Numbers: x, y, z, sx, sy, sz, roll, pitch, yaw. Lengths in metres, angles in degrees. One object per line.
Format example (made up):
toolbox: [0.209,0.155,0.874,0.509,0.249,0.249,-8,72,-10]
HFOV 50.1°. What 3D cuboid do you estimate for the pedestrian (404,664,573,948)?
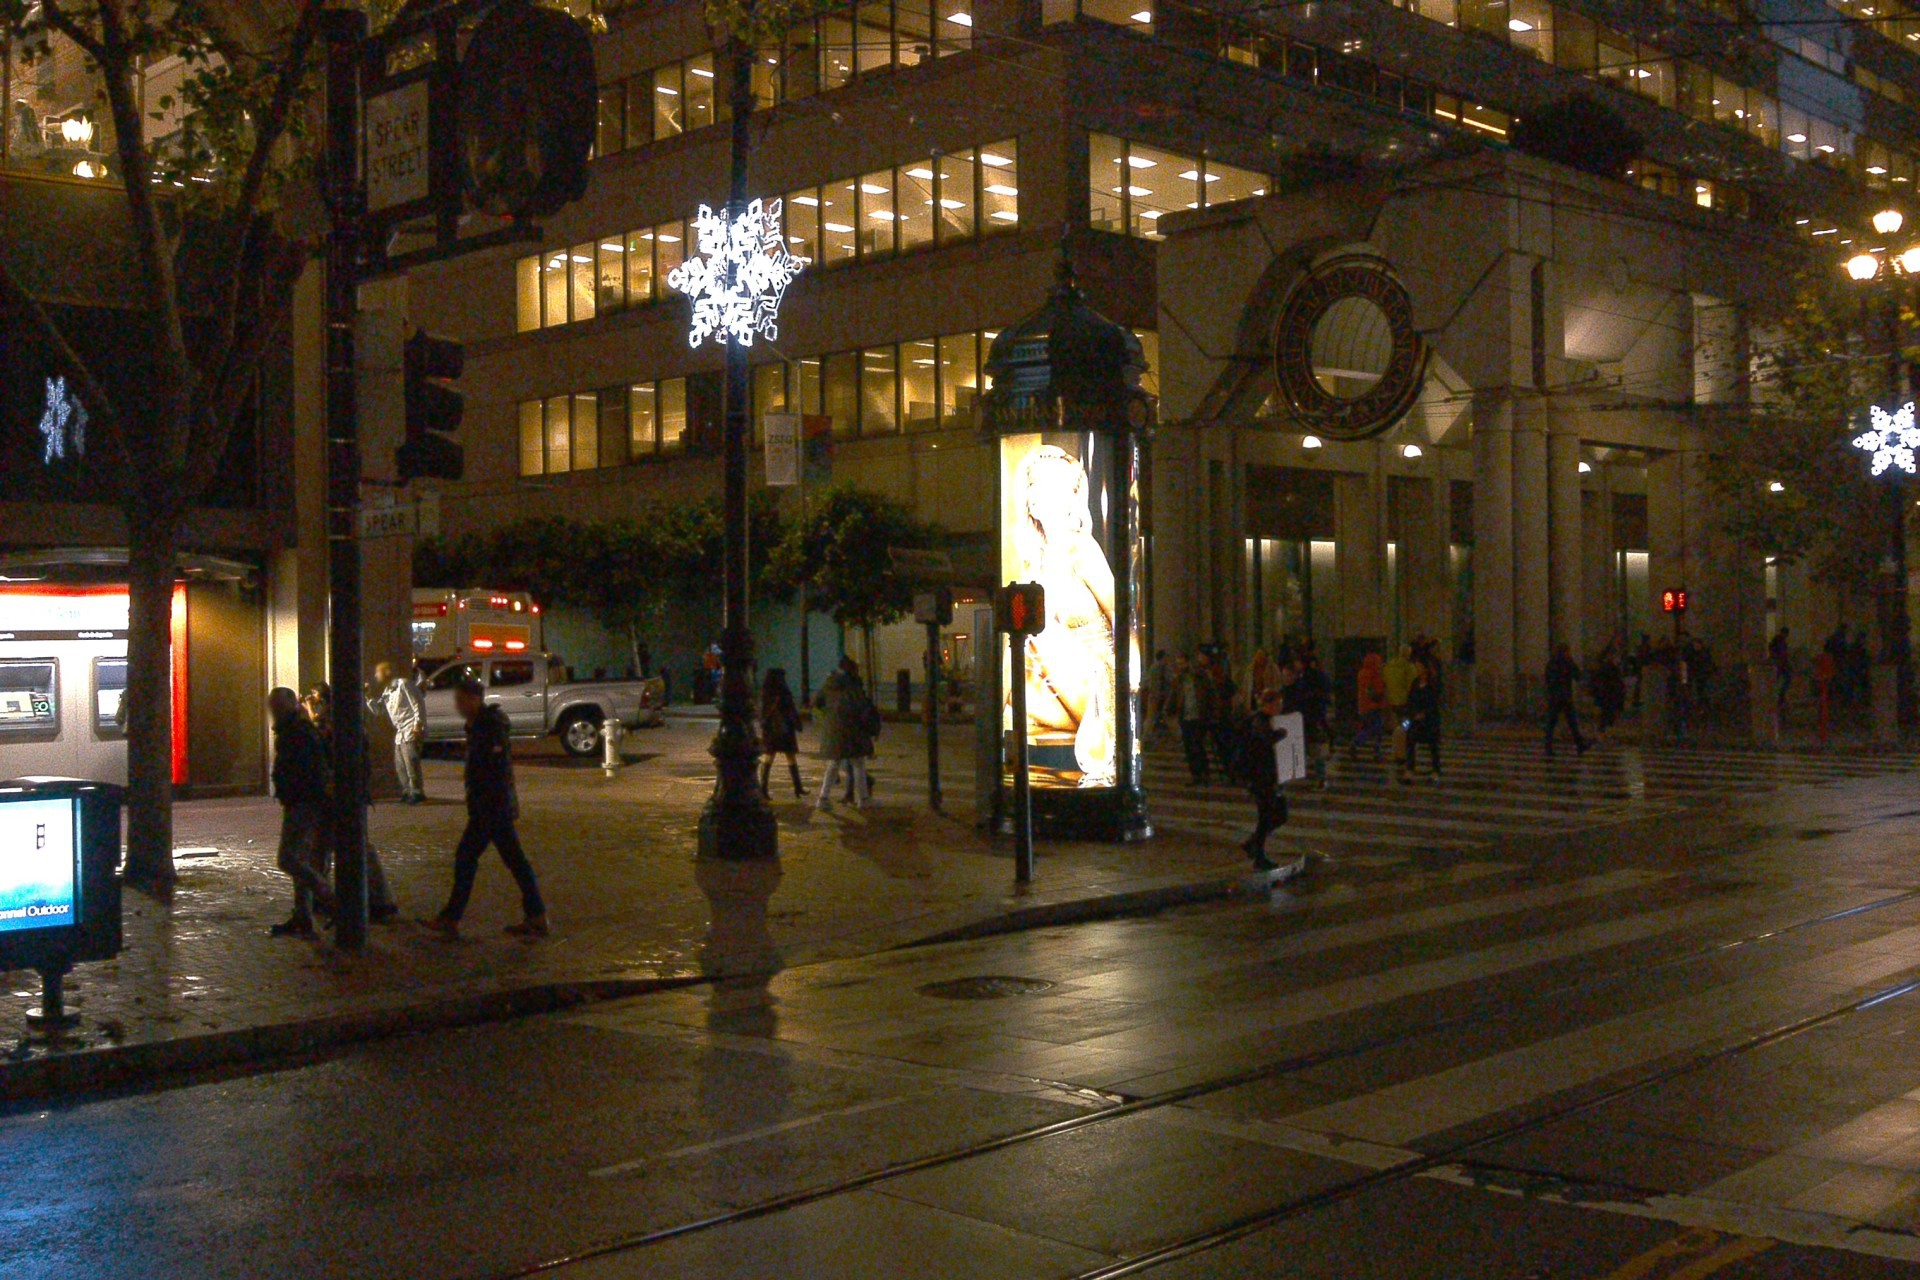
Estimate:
pedestrian: [-3.331,1.134,14.476,1.019,1.890,0.784,0,1,-25]

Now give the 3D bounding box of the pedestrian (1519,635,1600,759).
pedestrian: [9.364,0.866,32.102,1.066,1.880,0.763,-1,1,-42]

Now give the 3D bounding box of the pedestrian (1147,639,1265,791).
pedestrian: [3.243,0.961,27.069,1.418,1.920,0.742,-1,1,-37]

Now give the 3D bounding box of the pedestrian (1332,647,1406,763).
pedestrian: [6.258,0.980,31.414,0.934,1.730,0.628,-1,1,-34]

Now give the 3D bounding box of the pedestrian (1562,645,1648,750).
pedestrian: [10.725,0.946,34.178,1.123,1.690,0.785,0,1,-23]

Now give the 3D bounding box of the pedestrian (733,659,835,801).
pedestrian: [-2.200,1.107,25.757,0.806,1.710,0.985,1,1,43]

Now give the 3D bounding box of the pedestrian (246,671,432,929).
pedestrian: [-4.448,1.113,14.814,1.065,1.740,1.163,0,1,-6]

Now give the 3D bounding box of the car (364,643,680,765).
car: [-7.332,1.054,34.742,4.910,1.960,1.934,0,1,0]

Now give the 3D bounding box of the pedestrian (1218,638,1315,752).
pedestrian: [4.707,0.828,31.533,1.080,1.680,1.025,1,1,43]

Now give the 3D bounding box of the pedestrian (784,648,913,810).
pedestrian: [-1.246,0.969,23.005,1.120,1.720,0.908,-1,1,-39]

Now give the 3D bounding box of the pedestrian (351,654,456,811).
pedestrian: [-6.136,1.000,22.660,0.879,1.670,0.700,1,1,32]

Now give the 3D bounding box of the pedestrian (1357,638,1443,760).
pedestrian: [6.647,0.873,31.052,1.045,1.780,0.780,-1,1,-37]

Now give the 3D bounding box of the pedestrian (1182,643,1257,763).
pedestrian: [4.040,0.961,31.977,0.842,1.820,0.812,1,1,42]

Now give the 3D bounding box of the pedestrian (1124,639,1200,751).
pedestrian: [3.416,0.916,34.779,1.064,1.850,0.753,-1,1,-42]

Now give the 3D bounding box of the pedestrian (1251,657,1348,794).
pedestrian: [4.278,1.060,25.859,0.699,1.650,1.102,1,1,45]

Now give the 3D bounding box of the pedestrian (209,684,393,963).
pedestrian: [-4.508,1.218,14.050,1.053,1.790,0.690,-1,1,-32]

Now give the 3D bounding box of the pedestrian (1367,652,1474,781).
pedestrian: [6.057,0.987,27.010,1.084,1.620,0.886,-1,1,-38]

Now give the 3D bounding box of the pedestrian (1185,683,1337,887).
pedestrian: [2.665,1.242,18.116,1.049,1.670,1.133,0,1,24]
